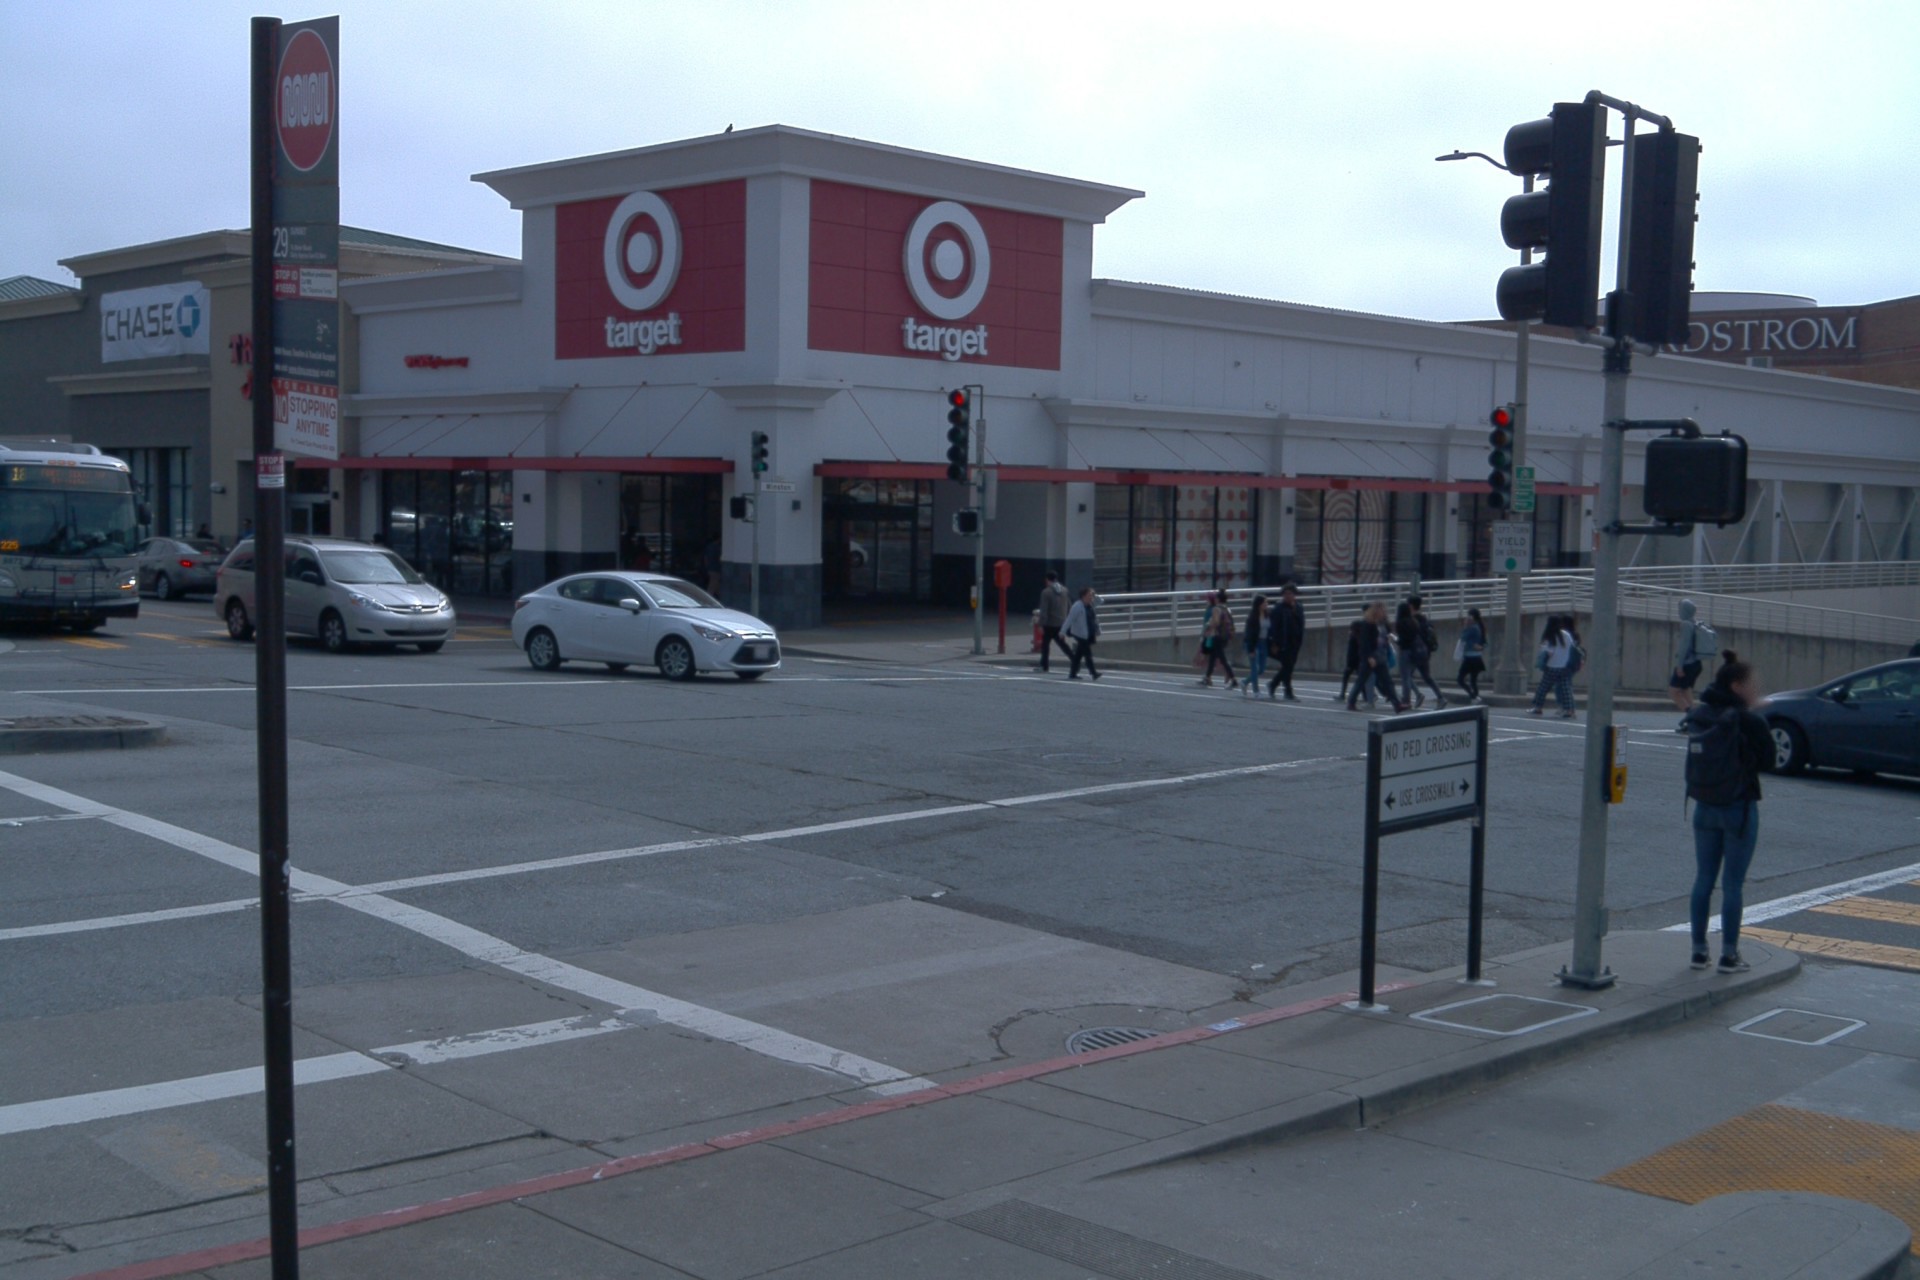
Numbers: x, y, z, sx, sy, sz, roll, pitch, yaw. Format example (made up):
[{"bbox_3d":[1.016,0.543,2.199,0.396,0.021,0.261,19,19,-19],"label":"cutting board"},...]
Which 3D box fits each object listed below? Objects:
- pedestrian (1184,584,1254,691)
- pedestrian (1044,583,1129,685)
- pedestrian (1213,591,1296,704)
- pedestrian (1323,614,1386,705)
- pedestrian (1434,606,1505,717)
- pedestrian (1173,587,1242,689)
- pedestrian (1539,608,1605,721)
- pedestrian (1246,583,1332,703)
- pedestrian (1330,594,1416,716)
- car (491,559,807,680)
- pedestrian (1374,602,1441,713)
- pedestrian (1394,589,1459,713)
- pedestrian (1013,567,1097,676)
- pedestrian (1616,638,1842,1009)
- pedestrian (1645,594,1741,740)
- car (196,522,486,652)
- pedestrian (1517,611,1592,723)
[{"bbox_3d":[4.172,-0.052,33.266,0.895,1.700,0.689,1,1,44],"label":"pedestrian"},{"bbox_3d":[2.031,-0.108,33.178,0.972,1.610,0.944,1,1,45],"label":"pedestrian"},{"bbox_3d":[4.346,0.104,30.458,0.742,1.630,0.987,-1,1,-33],"label":"pedestrian"},{"bbox_3d":[5.998,0.287,31.387,0.769,1.360,0.521,1,1,44],"label":"pedestrian"},{"bbox_3d":[7.646,0.308,30.957,0.786,1.630,0.721,-1,1,-42],"label":"pedestrian"},{"bbox_3d":[4.107,-0.043,34.273,0.873,1.670,0.783,0,1,35],"label":"pedestrian"},{"bbox_3d":[9.225,0.360,31.113,0.804,1.680,0.508,1,1,43],"label":"pedestrian"},{"bbox_3d":[4.900,0.029,30.751,0.795,1.750,1.018,-1,1,-32],"label":"pedestrian"},{"bbox_3d":[5.805,0.198,29.021,0.926,1.680,0.769,1,1,41],"label":"pedestrian"},{"bbox_3d":[-4.464,-0.296,29.376,4.369,1.600,1.885,0,1,36],"label":"car"},{"bbox_3d":[6.534,0.250,30.136,0.587,1.600,0.758,-1,1,-42],"label":"pedestrian"},{"bbox_3d":[6.896,0.154,30.507,0.592,1.800,0.732,-1,1,-41],"label":"pedestrian"},{"bbox_3d":[1.644,-0.329,35.777,1.043,1.850,1.025,1,1,40],"label":"pedestrian"},{"bbox_3d":[3.919,0.878,10.499,0.843,1.760,0.940,0,1,37],"label":"pedestrian"},{"bbox_3d":[10.079,0.359,28.394,1.039,1.960,0.717,1,1,44],"label":"pedestrian"},{"bbox_3d":[-10.217,-0.842,33.851,5.161,1.970,2.221,1,1,42],"label":"car"},{"bbox_3d":[8.871,0.389,30.800,0.890,1.630,0.612,1,1,45],"label":"pedestrian"}]
